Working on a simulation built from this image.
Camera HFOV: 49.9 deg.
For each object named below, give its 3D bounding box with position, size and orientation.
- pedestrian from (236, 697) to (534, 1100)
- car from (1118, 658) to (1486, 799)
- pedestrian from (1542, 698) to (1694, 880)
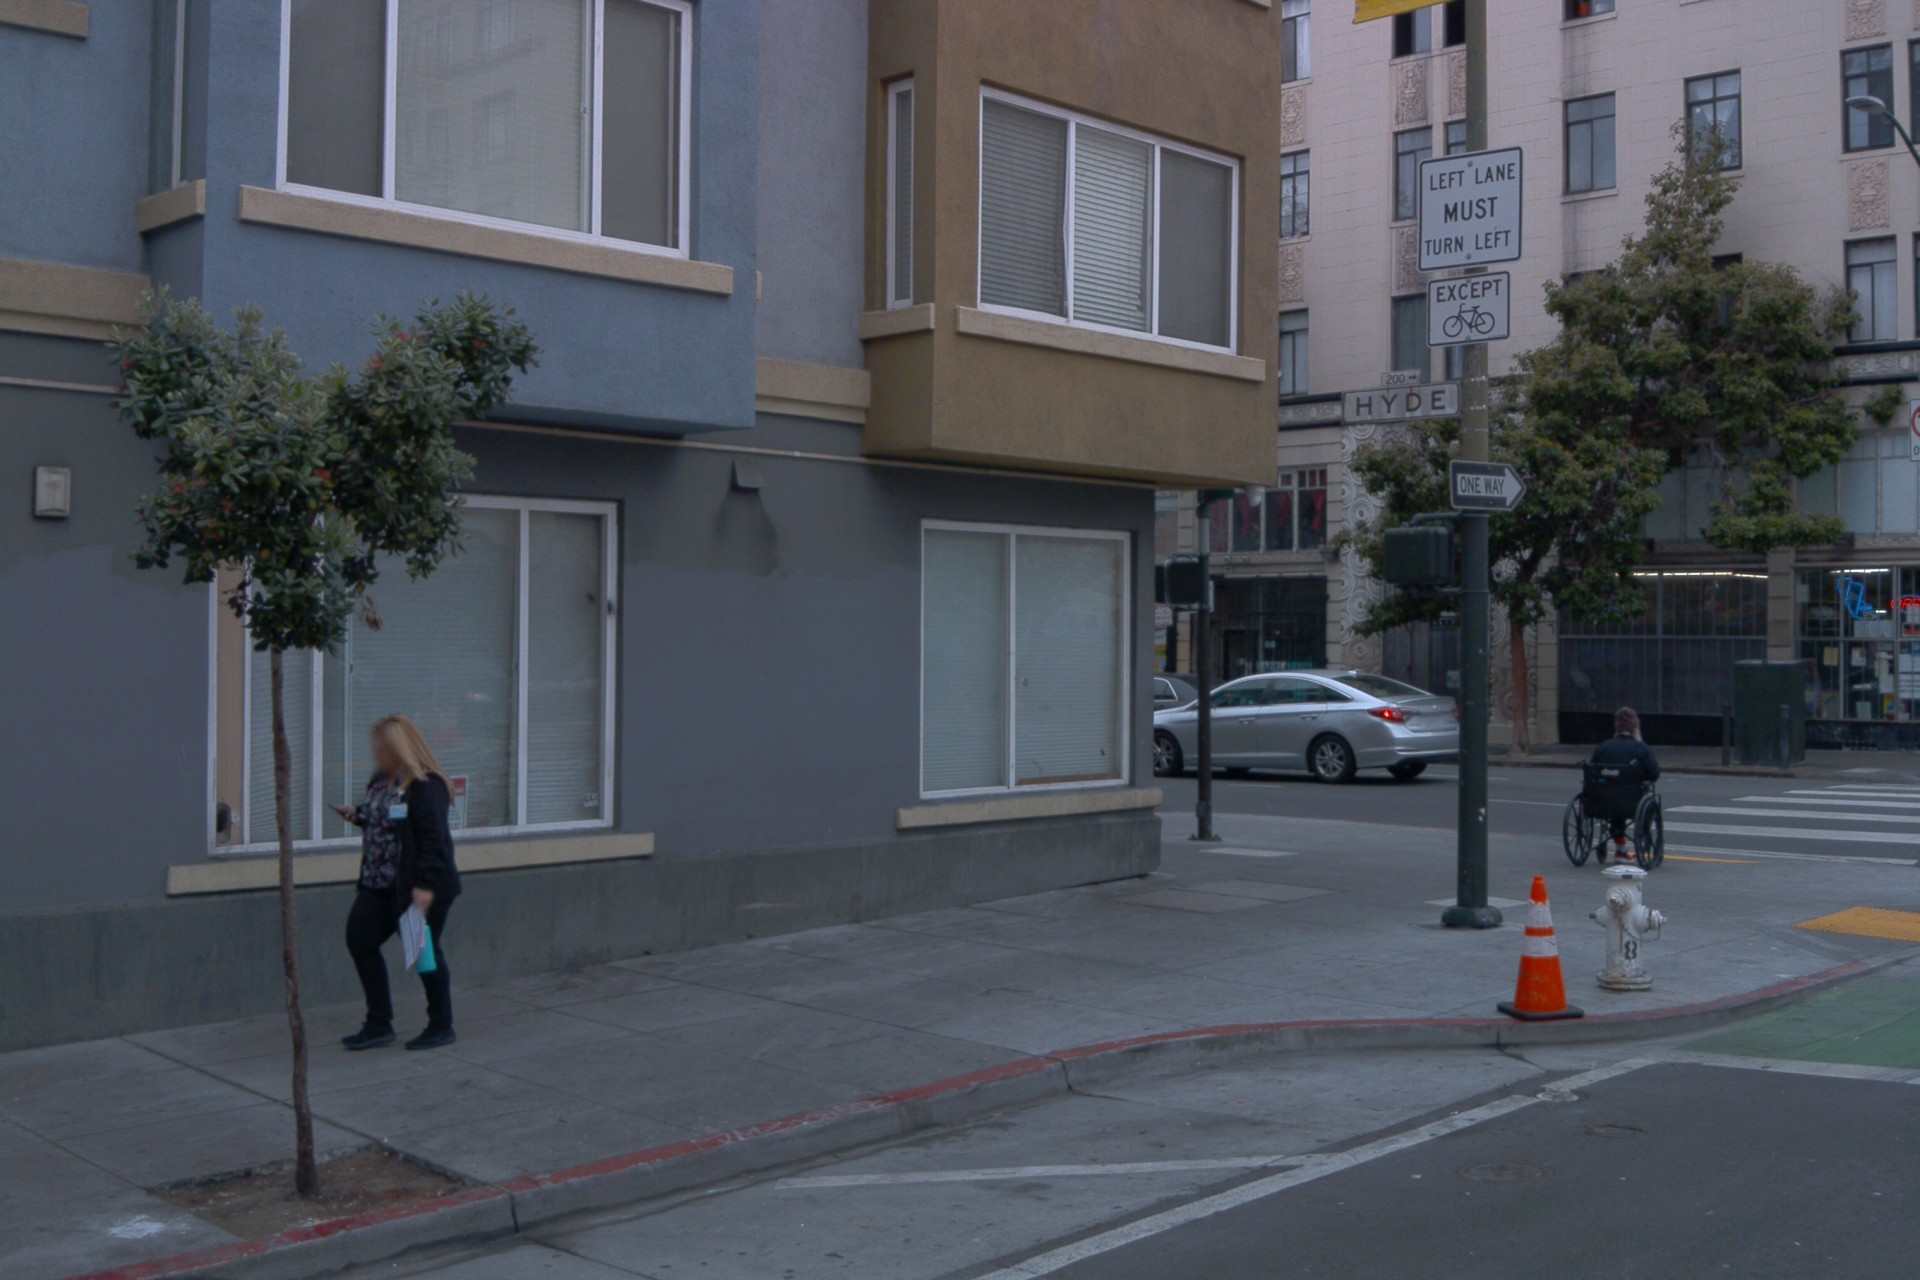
[{"bbox_3d":[-2.732,1.159,9.794,1.033,1.710,1.012,-1,1,-40],"label":"pedestrian"},{"bbox_3d":[4.495,1.110,27.630,1.939,1.600,4.599,-1,1,-44],"label":"car"},{"bbox_3d":[5.418,1.196,16.982,0.883,1.370,1.026,1,1,38],"label":"pedestrian"}]
